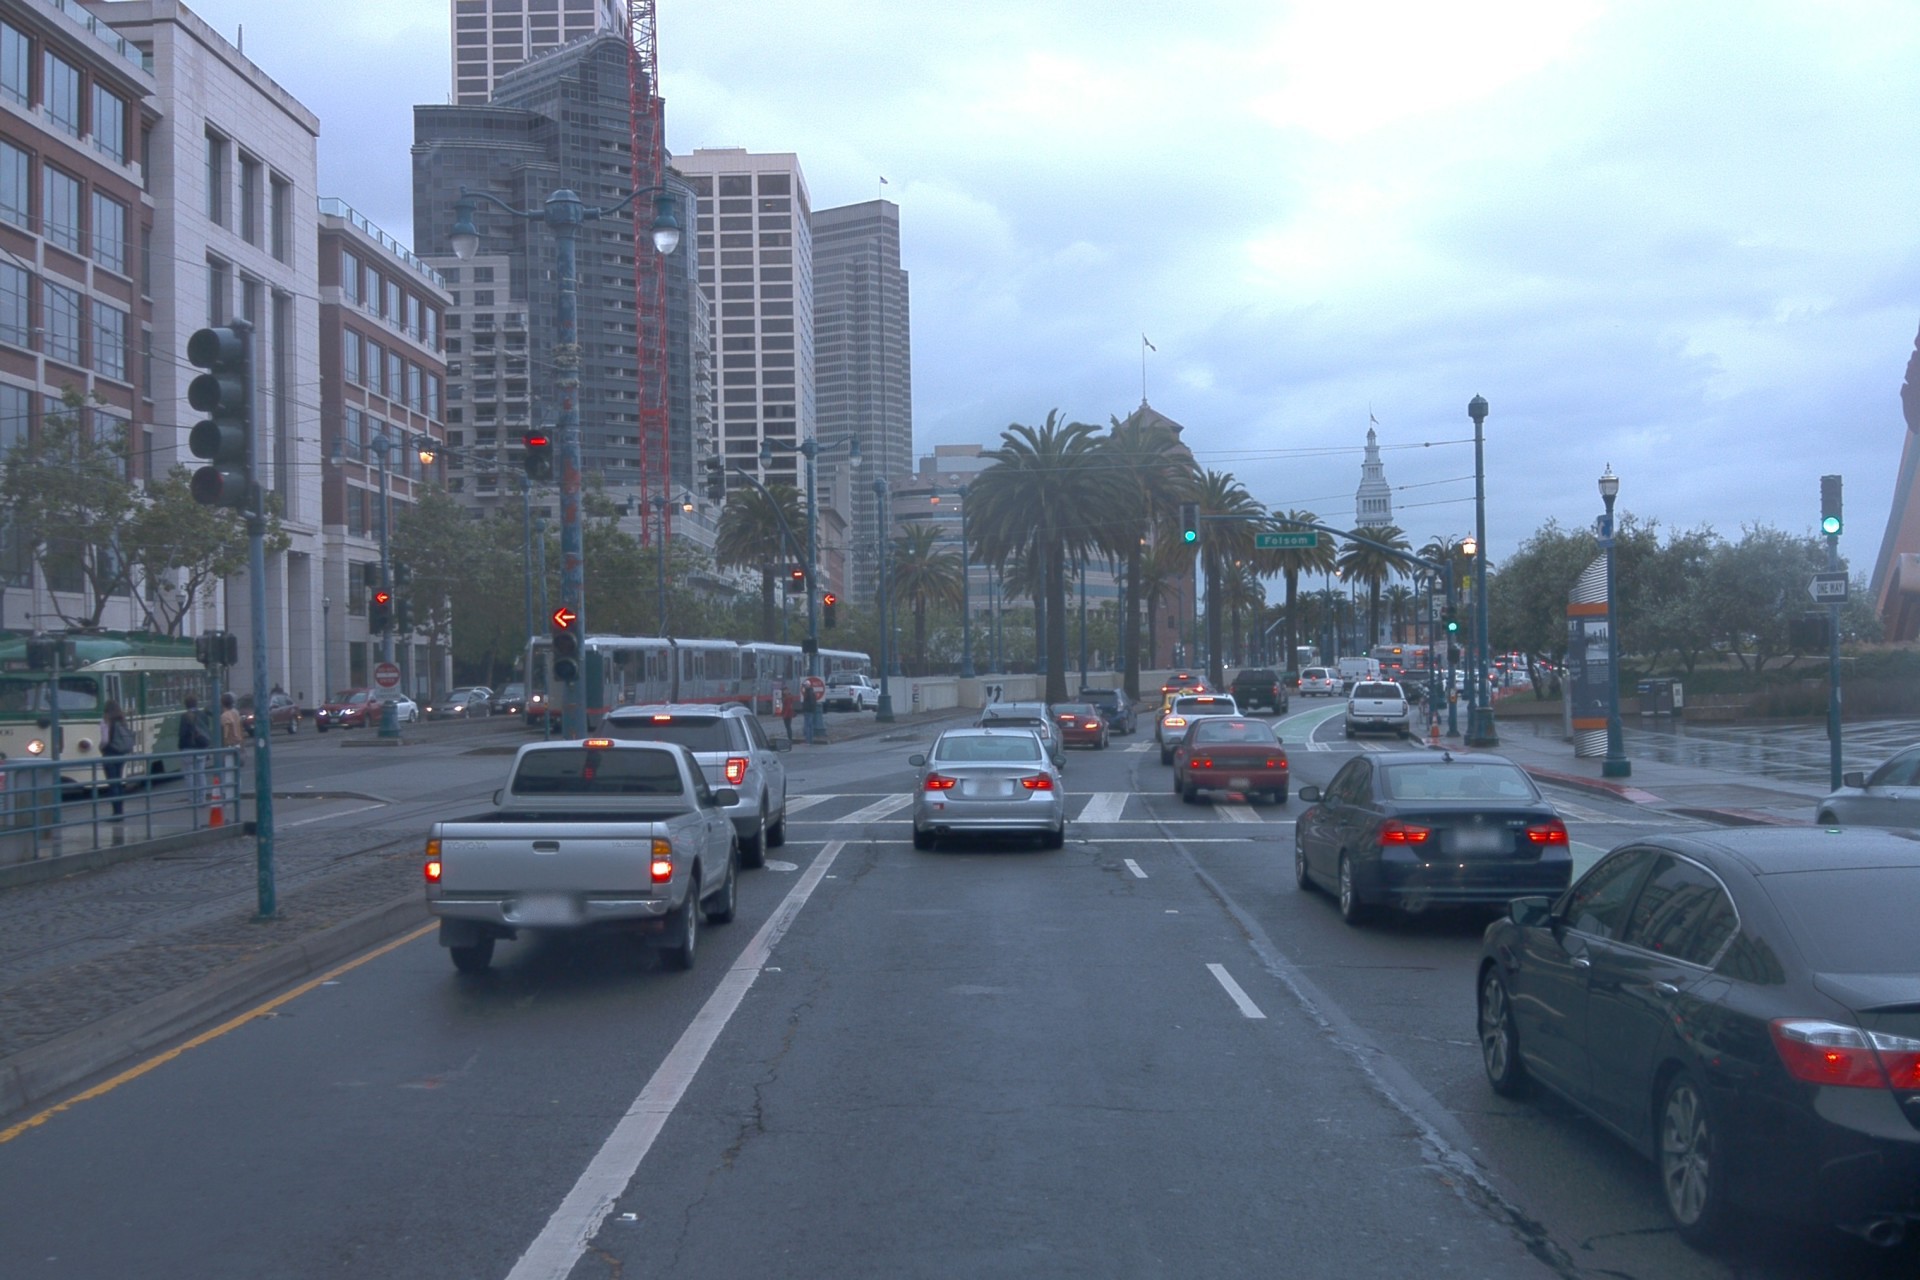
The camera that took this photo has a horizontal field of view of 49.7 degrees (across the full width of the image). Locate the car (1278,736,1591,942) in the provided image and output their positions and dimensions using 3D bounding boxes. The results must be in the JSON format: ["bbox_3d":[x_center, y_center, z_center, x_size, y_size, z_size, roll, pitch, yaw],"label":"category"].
[{"bbox_3d":[3.991,1.637,18.162,1.869,1.450,4.344,0,-1,2],"label":"car"}]

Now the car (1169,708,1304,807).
[{"bbox_3d":[4.459,1.877,33.944,1.923,1.450,3.944,0,-1,4],"label":"car"}]

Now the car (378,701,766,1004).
[{"bbox_3d":[-2.702,1.427,15.634,2.053,1.860,4.771,0,-1,0],"label":"car"}]

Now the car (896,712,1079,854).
[{"bbox_3d":[0.366,1.701,25.808,2.067,1.510,4.625,0,-1,1],"label":"car"}]

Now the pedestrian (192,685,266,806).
[{"bbox_3d":[-11.800,1.694,33.482,0.862,1.920,0.866,0,-1,2],"label":"pedestrian"}]

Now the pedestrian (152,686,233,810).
[{"bbox_3d":[-12.169,1.692,32.894,0.882,1.920,0.821,-1,-1,27],"label":"pedestrian"}]

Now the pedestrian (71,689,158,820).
[{"bbox_3d":[-12.124,1.635,29.756,0.842,1.840,0.842,0,-1,8],"label":"pedestrian"}]

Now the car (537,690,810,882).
[{"bbox_3d":[-3.072,1.535,23.429,2.401,1.870,5.027,0,-1,0],"label":"car"}]
